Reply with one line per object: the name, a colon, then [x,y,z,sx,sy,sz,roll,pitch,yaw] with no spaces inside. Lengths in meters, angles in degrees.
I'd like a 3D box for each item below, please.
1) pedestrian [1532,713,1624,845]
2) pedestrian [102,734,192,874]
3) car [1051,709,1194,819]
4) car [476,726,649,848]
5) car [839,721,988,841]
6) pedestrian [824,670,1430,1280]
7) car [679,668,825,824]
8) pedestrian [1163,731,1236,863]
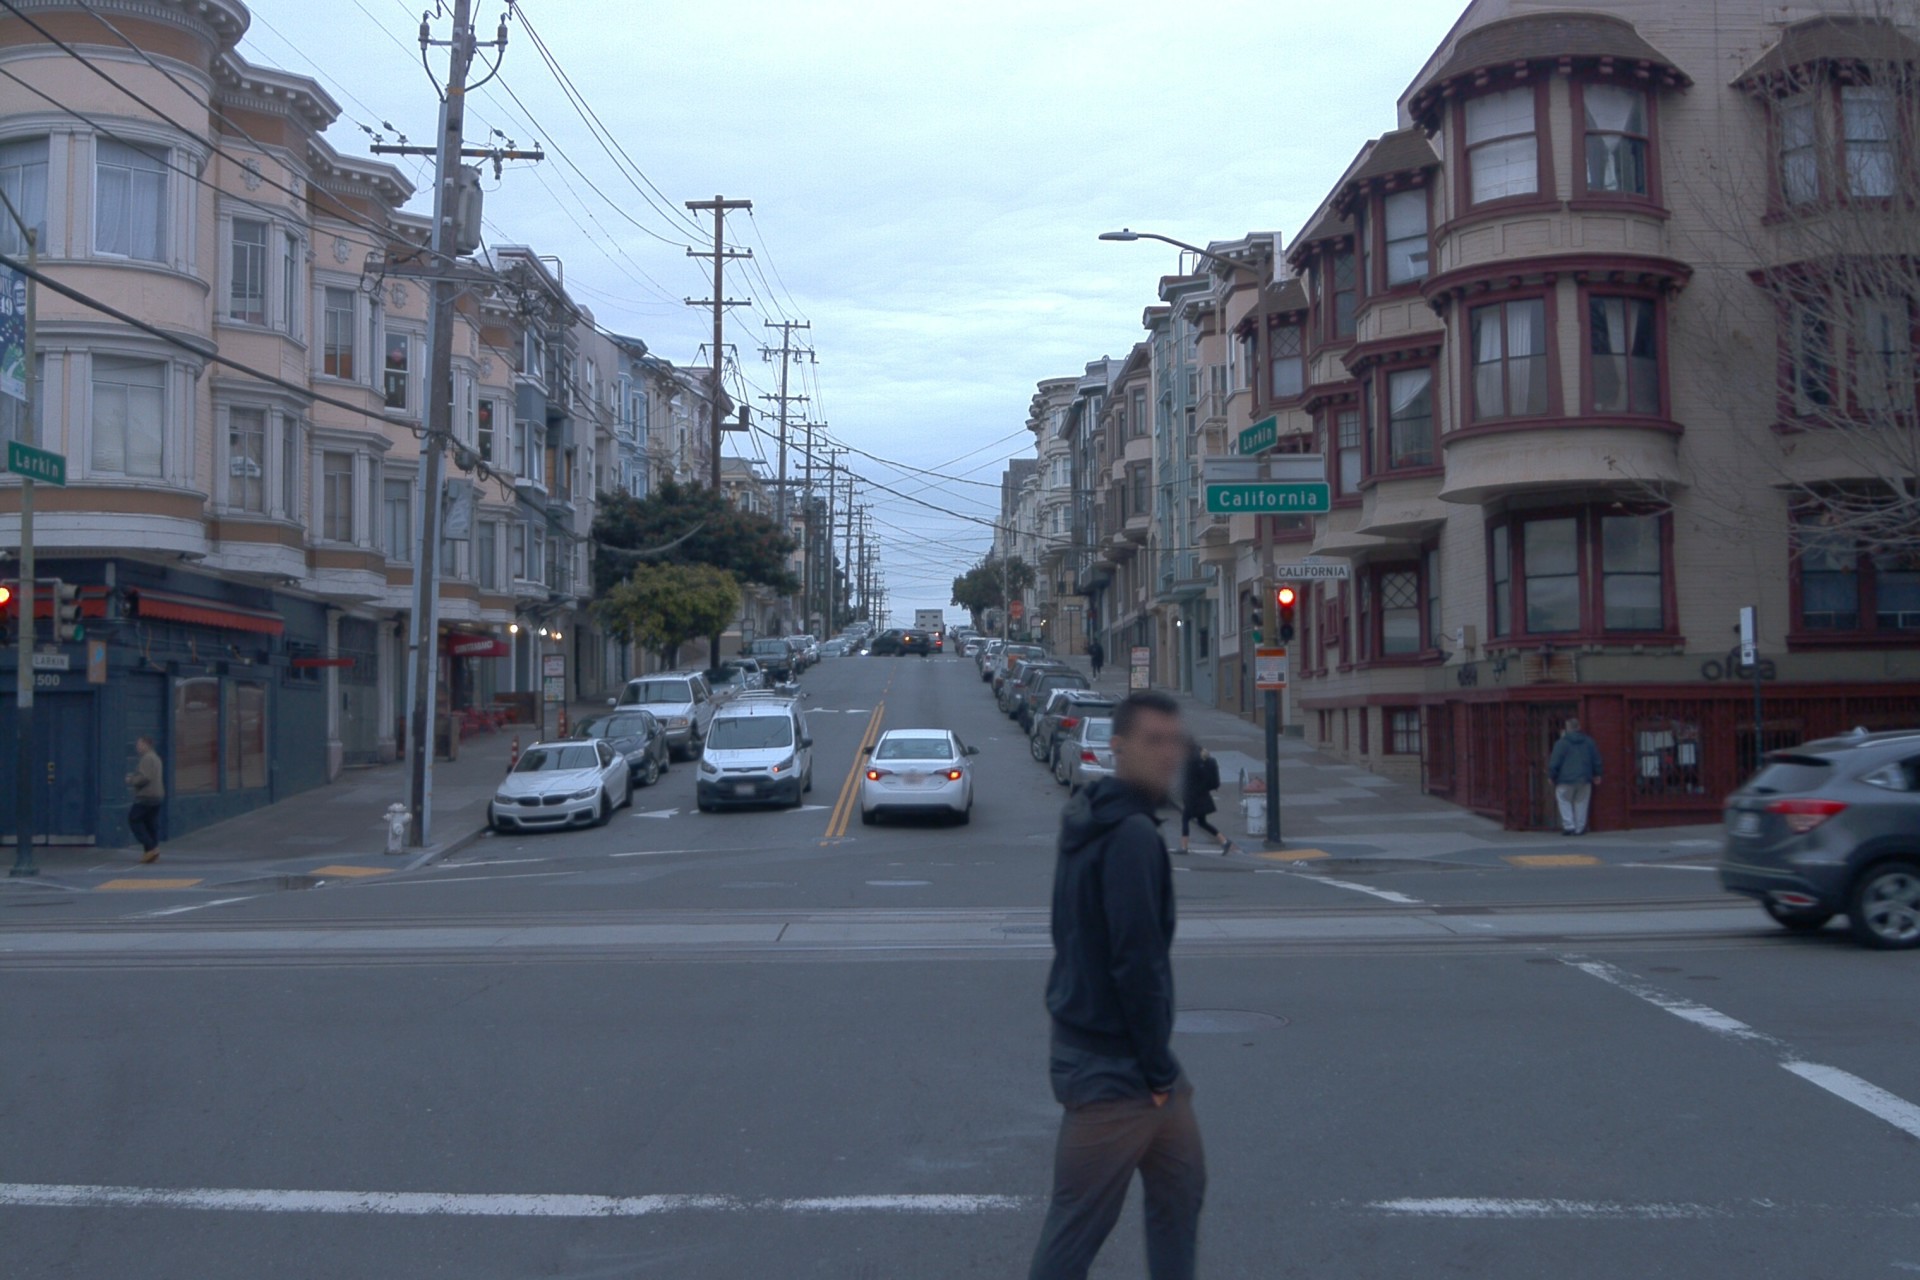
pedestrian: [8.994,2.002,29.932,0.912,1.830,0.910,-1,1,-23]
pedestrian: [-11.480,2.298,29.064,0.950,1.900,0.786,0,1,-1]
car: [2.940,2.243,38.182,2.108,1.700,4.470,0,1,-2]
car: [-6.810,2.481,35.708,2.150,1.707,4.680,0,1,-1]
car: [-0.686,2.282,34.270,2.145,1.600,4.698,0,1,3]
pedestrian: [0.389,1.128,5.395,1.459,2.066,0.817,0,1,-4]
car: [-3.668,1.823,37.100,2.196,2.490,4.690,0,1,-1]
pedestrian: [3.404,2.223,29.284,0.944,1.820,0.722,0,1,1]
